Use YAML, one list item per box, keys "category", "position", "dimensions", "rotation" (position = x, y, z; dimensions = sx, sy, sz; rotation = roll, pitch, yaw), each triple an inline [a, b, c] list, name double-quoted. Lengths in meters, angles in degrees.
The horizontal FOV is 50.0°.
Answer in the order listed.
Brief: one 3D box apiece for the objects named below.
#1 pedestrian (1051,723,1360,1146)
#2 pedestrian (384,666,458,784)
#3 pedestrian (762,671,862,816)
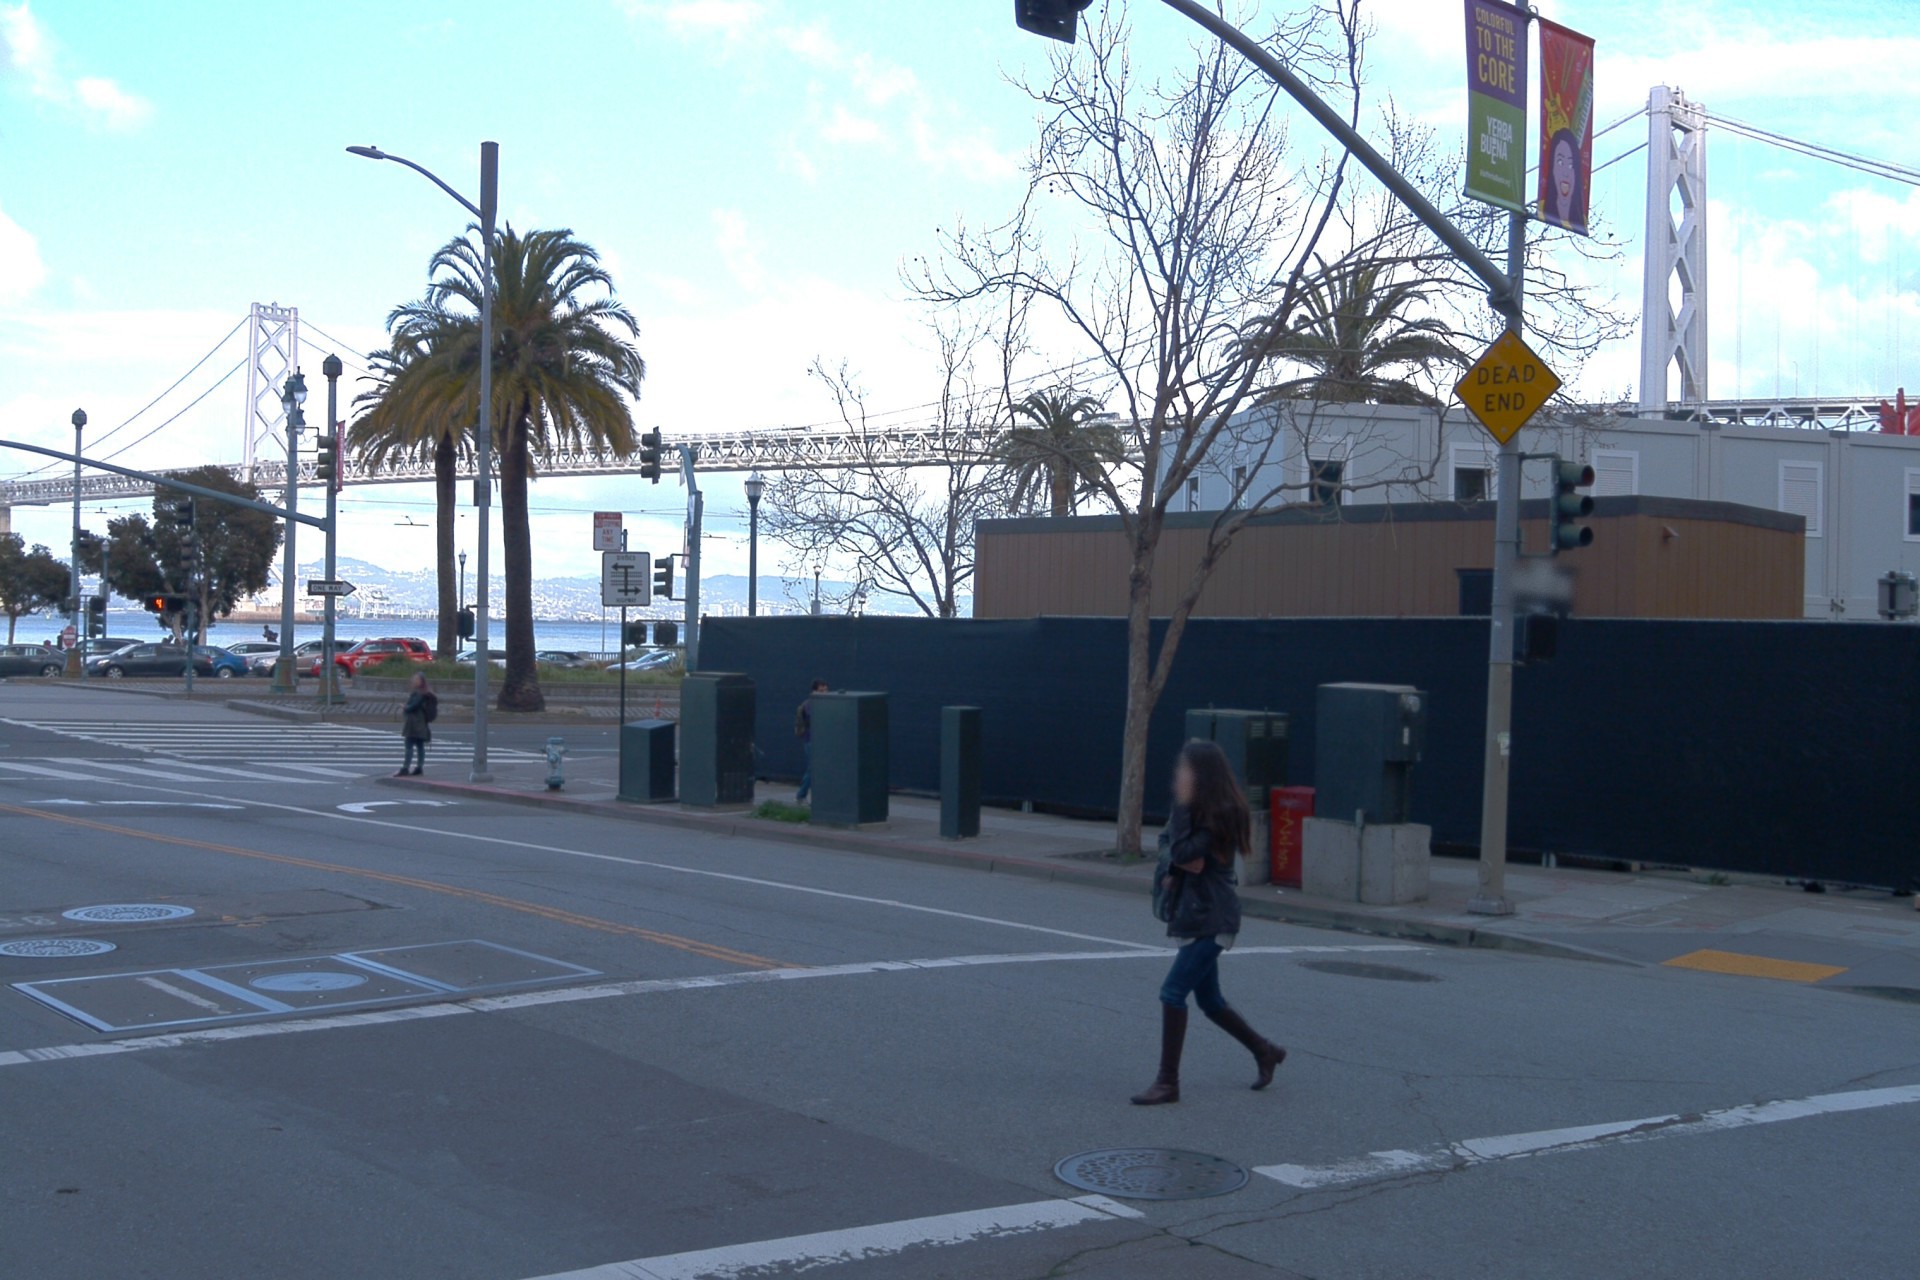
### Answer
- category: "pedestrian"
  position: [1.103, 1.269, 9.308]
  dimensions: [1.092, 1.720, 0.848]
  rotation: [0, 1, -29]
- category: "pedestrian"
  position: [-8.458, 1.314, 32.259]
  dimensions: [0.841, 1.790, 0.831]
  rotation: [-1, 1, -39]
- category: "pedestrian"
  position: [-1.949, 1.338, 27.042]
  dimensions: [1.064, 1.820, 0.792]
  rotation: [1, 2, 45]
